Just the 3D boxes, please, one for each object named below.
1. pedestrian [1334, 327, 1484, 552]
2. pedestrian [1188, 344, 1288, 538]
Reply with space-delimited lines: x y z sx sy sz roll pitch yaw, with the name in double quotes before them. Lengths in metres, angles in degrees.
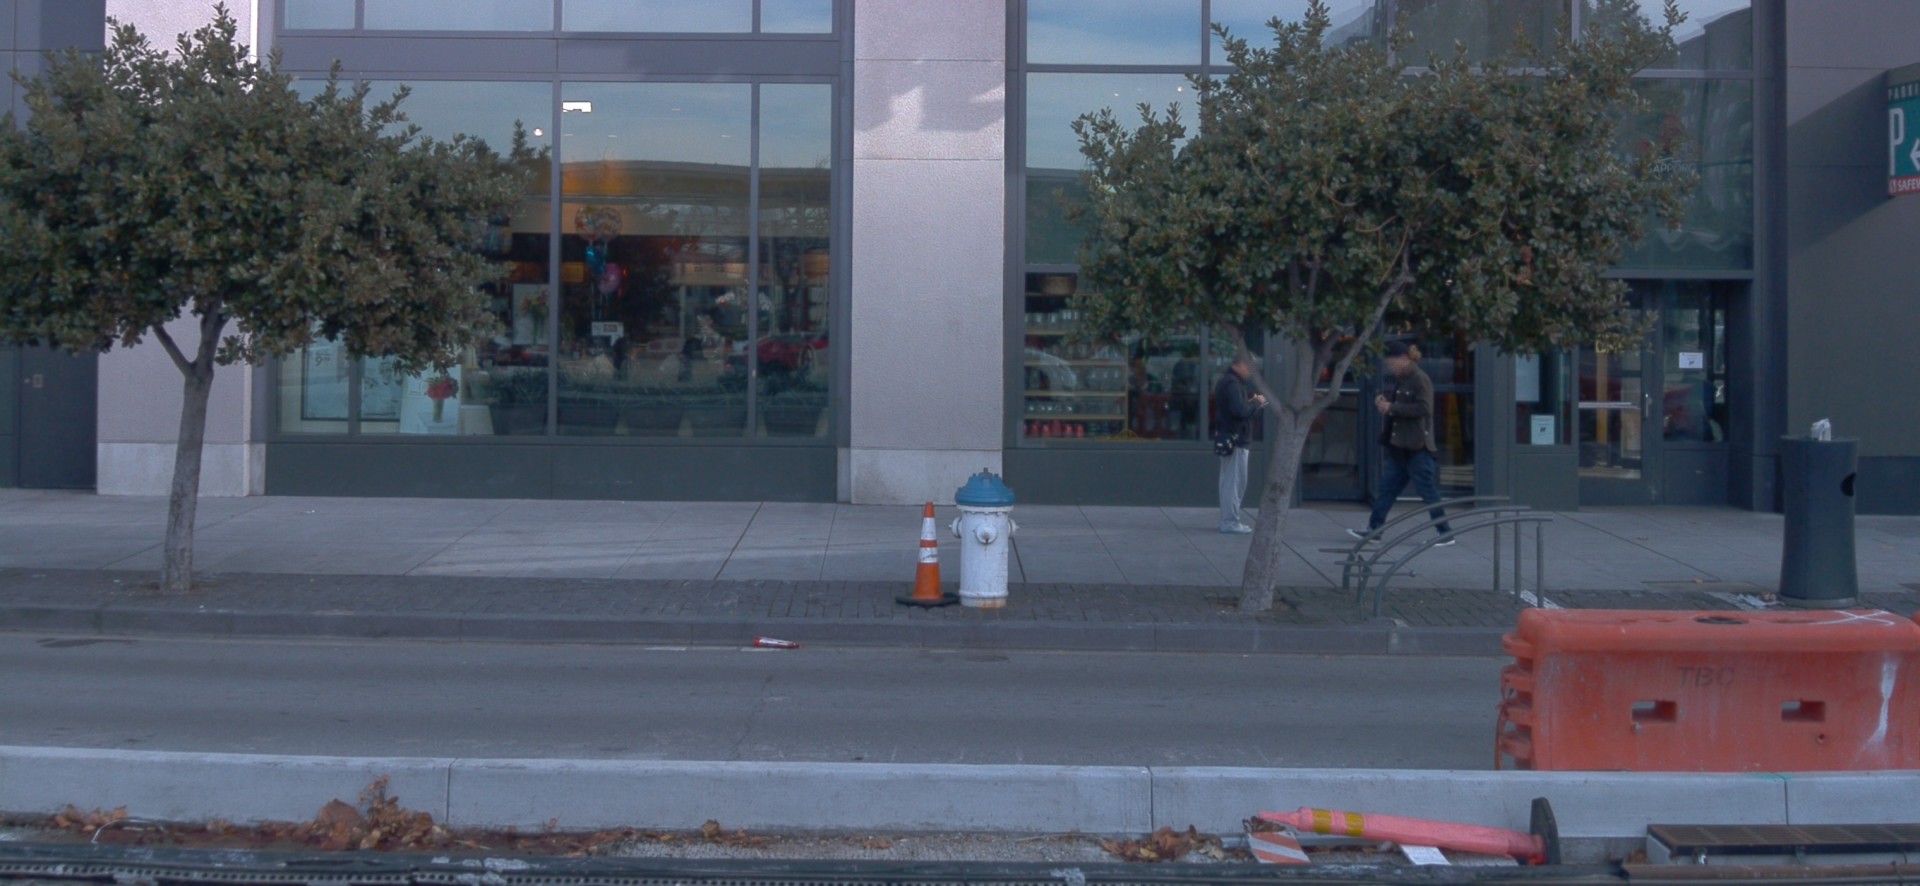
"pedestrian" 3.804 -0.052 17.592 0.999 1.815 0.864 1 1 -4
"pedestrian" 2.434 -0.034 18.176 0.683 1.627 0.774 1 1 -4
